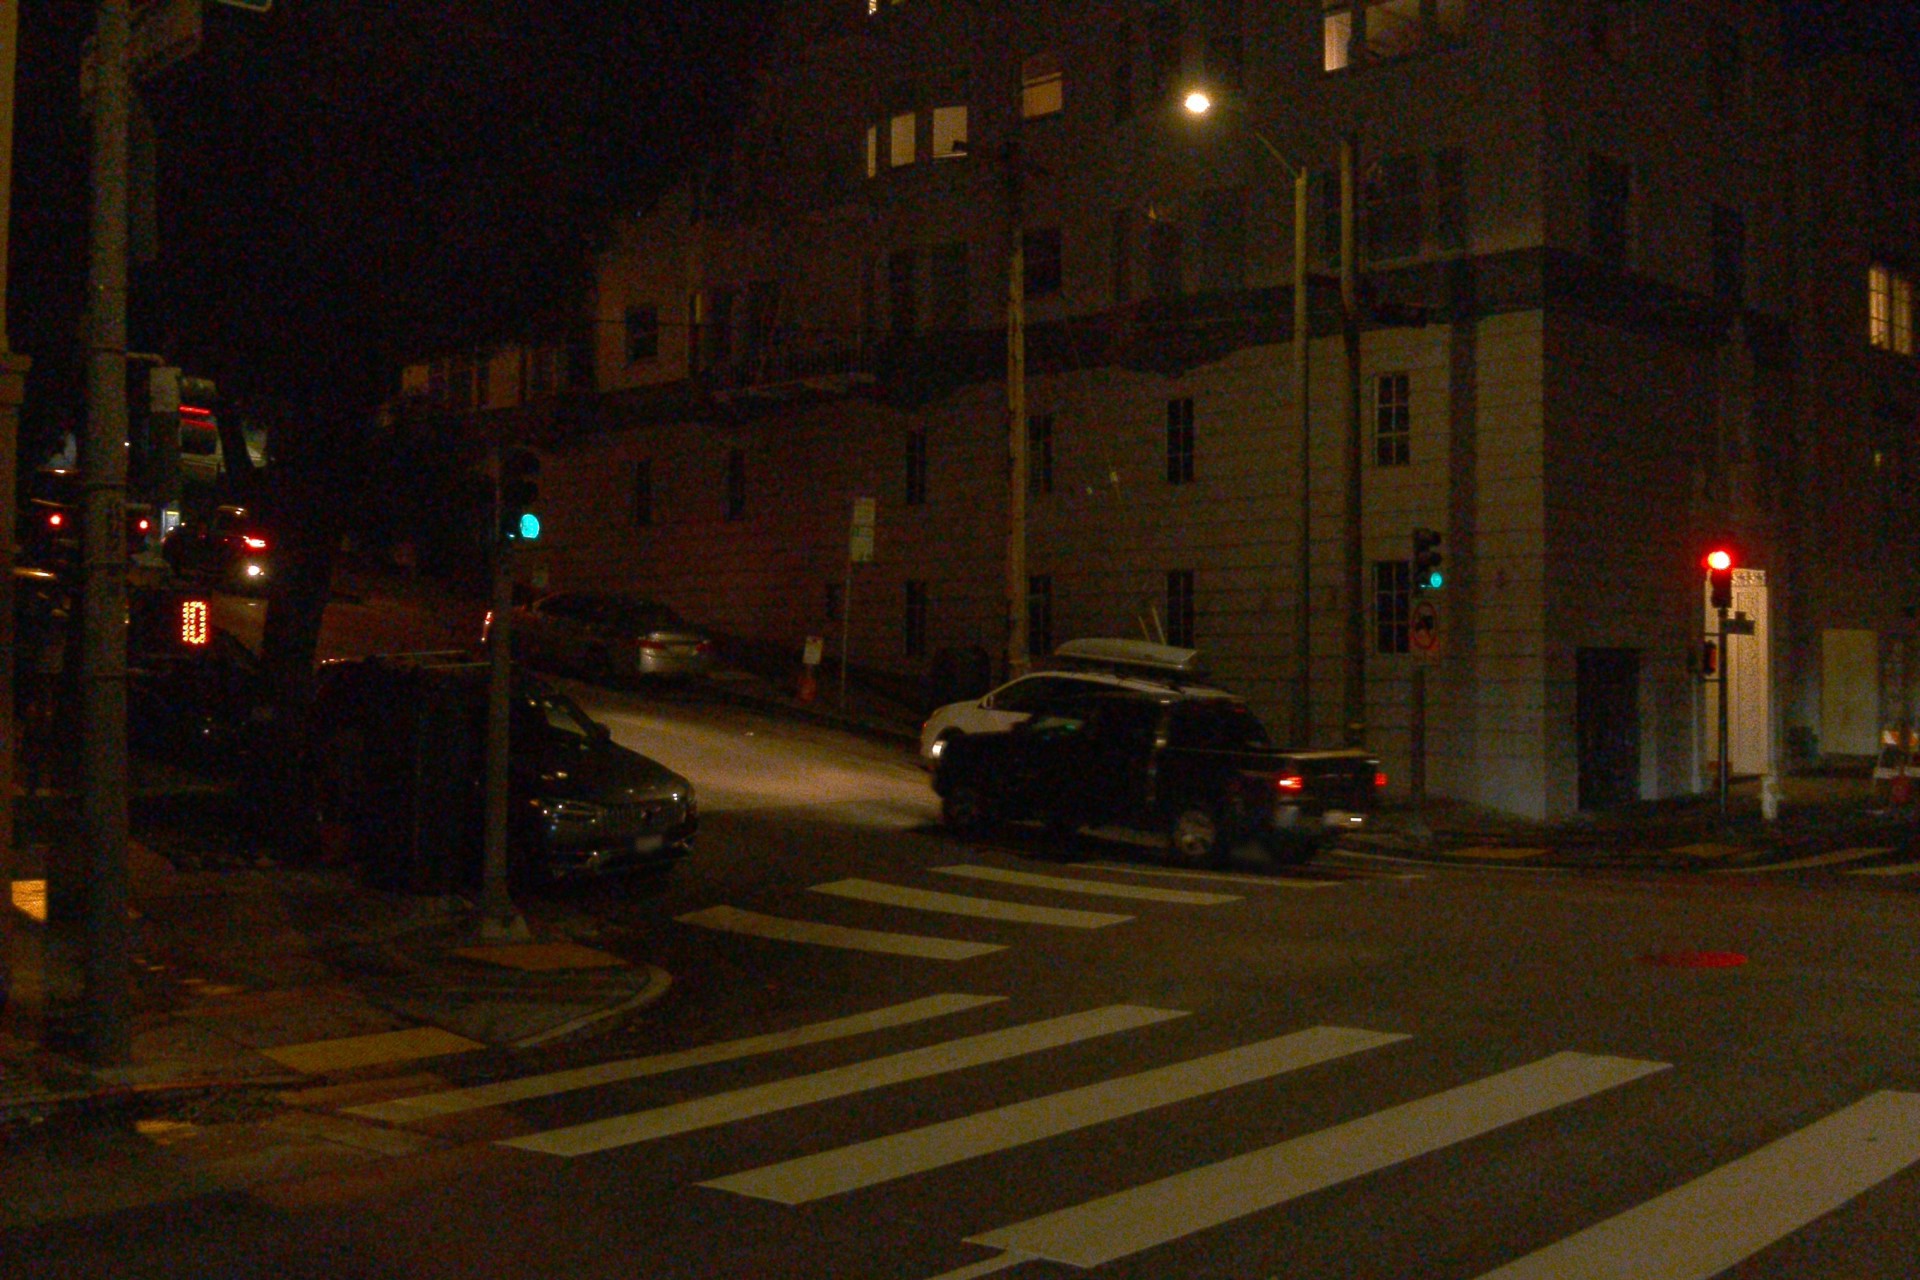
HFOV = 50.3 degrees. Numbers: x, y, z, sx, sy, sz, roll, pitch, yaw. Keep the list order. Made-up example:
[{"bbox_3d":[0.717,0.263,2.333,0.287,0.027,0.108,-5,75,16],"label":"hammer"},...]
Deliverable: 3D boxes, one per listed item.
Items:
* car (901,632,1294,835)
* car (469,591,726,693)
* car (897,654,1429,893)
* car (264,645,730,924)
[{"bbox_3d":[1.732,1.123,27.136,4.904,2.388,2.213,1,1,44],"label":"car"},{"bbox_3d":[-6.218,0.006,34.848,4.539,1.626,1.925,1,1,42],"label":"car"},{"bbox_3d":[2.041,1.273,21.921,5.383,2.142,2.276,1,1,44],"label":"car"},{"bbox_3d":[-4.590,1.230,19.807,2.195,2.290,4.784,0,1,-44],"label":"car"}]
